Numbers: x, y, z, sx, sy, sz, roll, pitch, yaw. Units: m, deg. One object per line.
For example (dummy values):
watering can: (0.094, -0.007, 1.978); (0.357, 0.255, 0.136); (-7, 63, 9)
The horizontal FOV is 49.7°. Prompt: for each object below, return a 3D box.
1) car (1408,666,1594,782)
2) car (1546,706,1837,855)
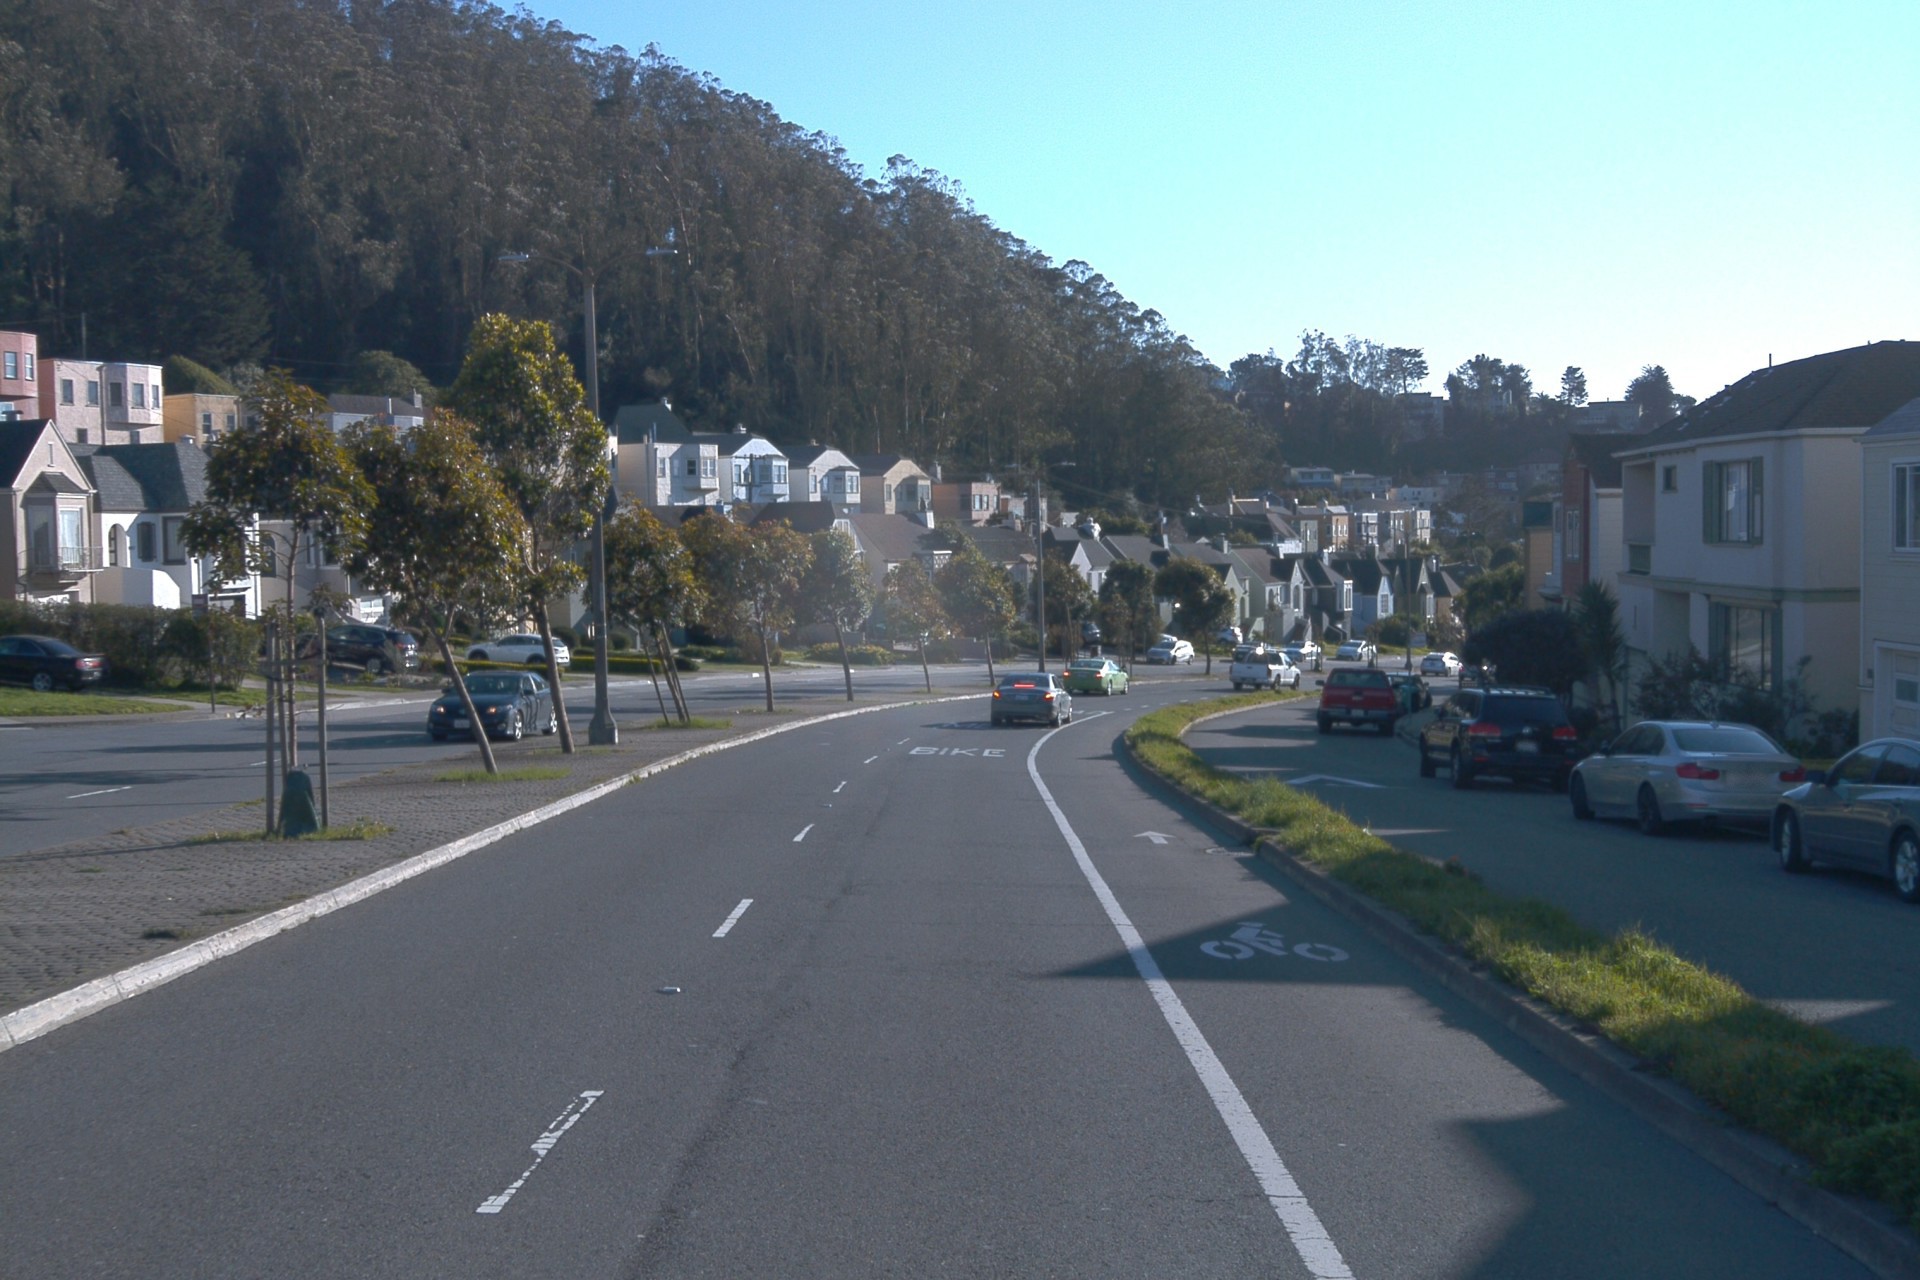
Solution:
car: (9.284, 1.392, 35.981); (2.154, 1.830, 4.717); (0, 0, 2)
car: (9.170, 1.711, 26.433); (2.073, 1.620, 4.599); (0, 0, 0)
